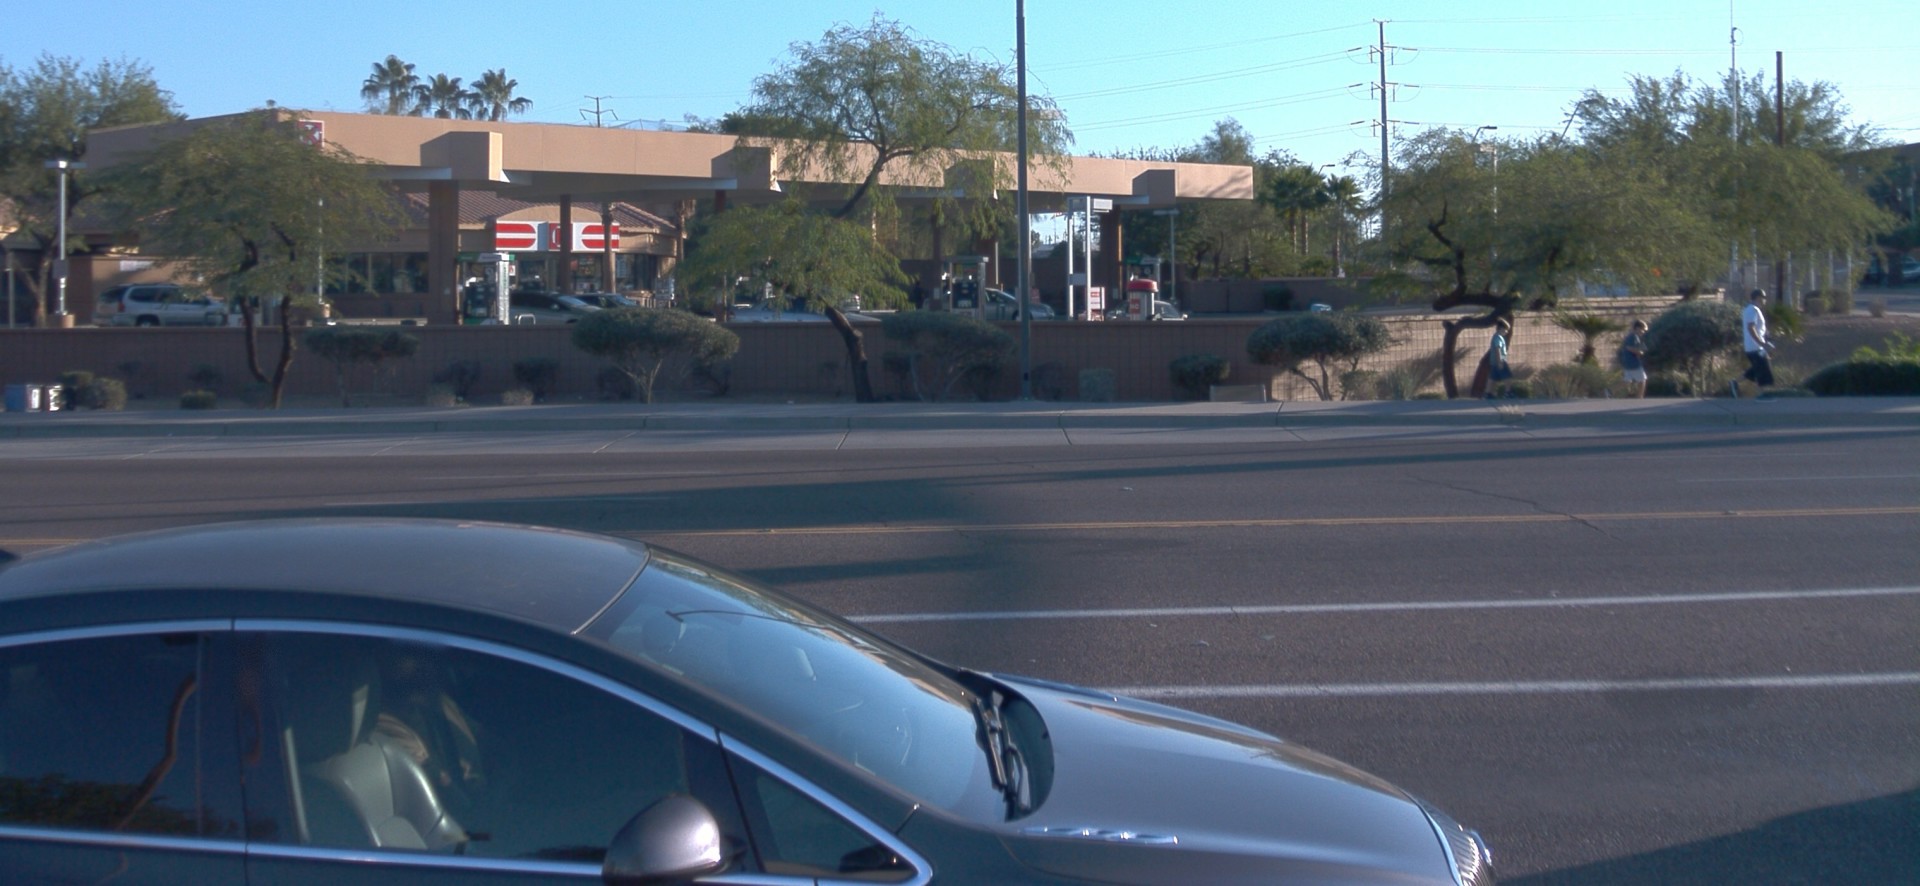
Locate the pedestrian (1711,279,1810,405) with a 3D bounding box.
[{"bbox_3d":[11.567,-1.475,30.023,1.150,1.777,0.864,0,1,7],"label":"pedestrian"}]

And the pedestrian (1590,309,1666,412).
[{"bbox_3d":[9.993,-1.249,31.078,0.906,1.490,0.826,0,1,3],"label":"pedestrian"}]

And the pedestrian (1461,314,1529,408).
[{"bbox_3d":[7.983,-1.238,31.019,0.912,1.360,0.780,0,1,9],"label":"pedestrian"}]
